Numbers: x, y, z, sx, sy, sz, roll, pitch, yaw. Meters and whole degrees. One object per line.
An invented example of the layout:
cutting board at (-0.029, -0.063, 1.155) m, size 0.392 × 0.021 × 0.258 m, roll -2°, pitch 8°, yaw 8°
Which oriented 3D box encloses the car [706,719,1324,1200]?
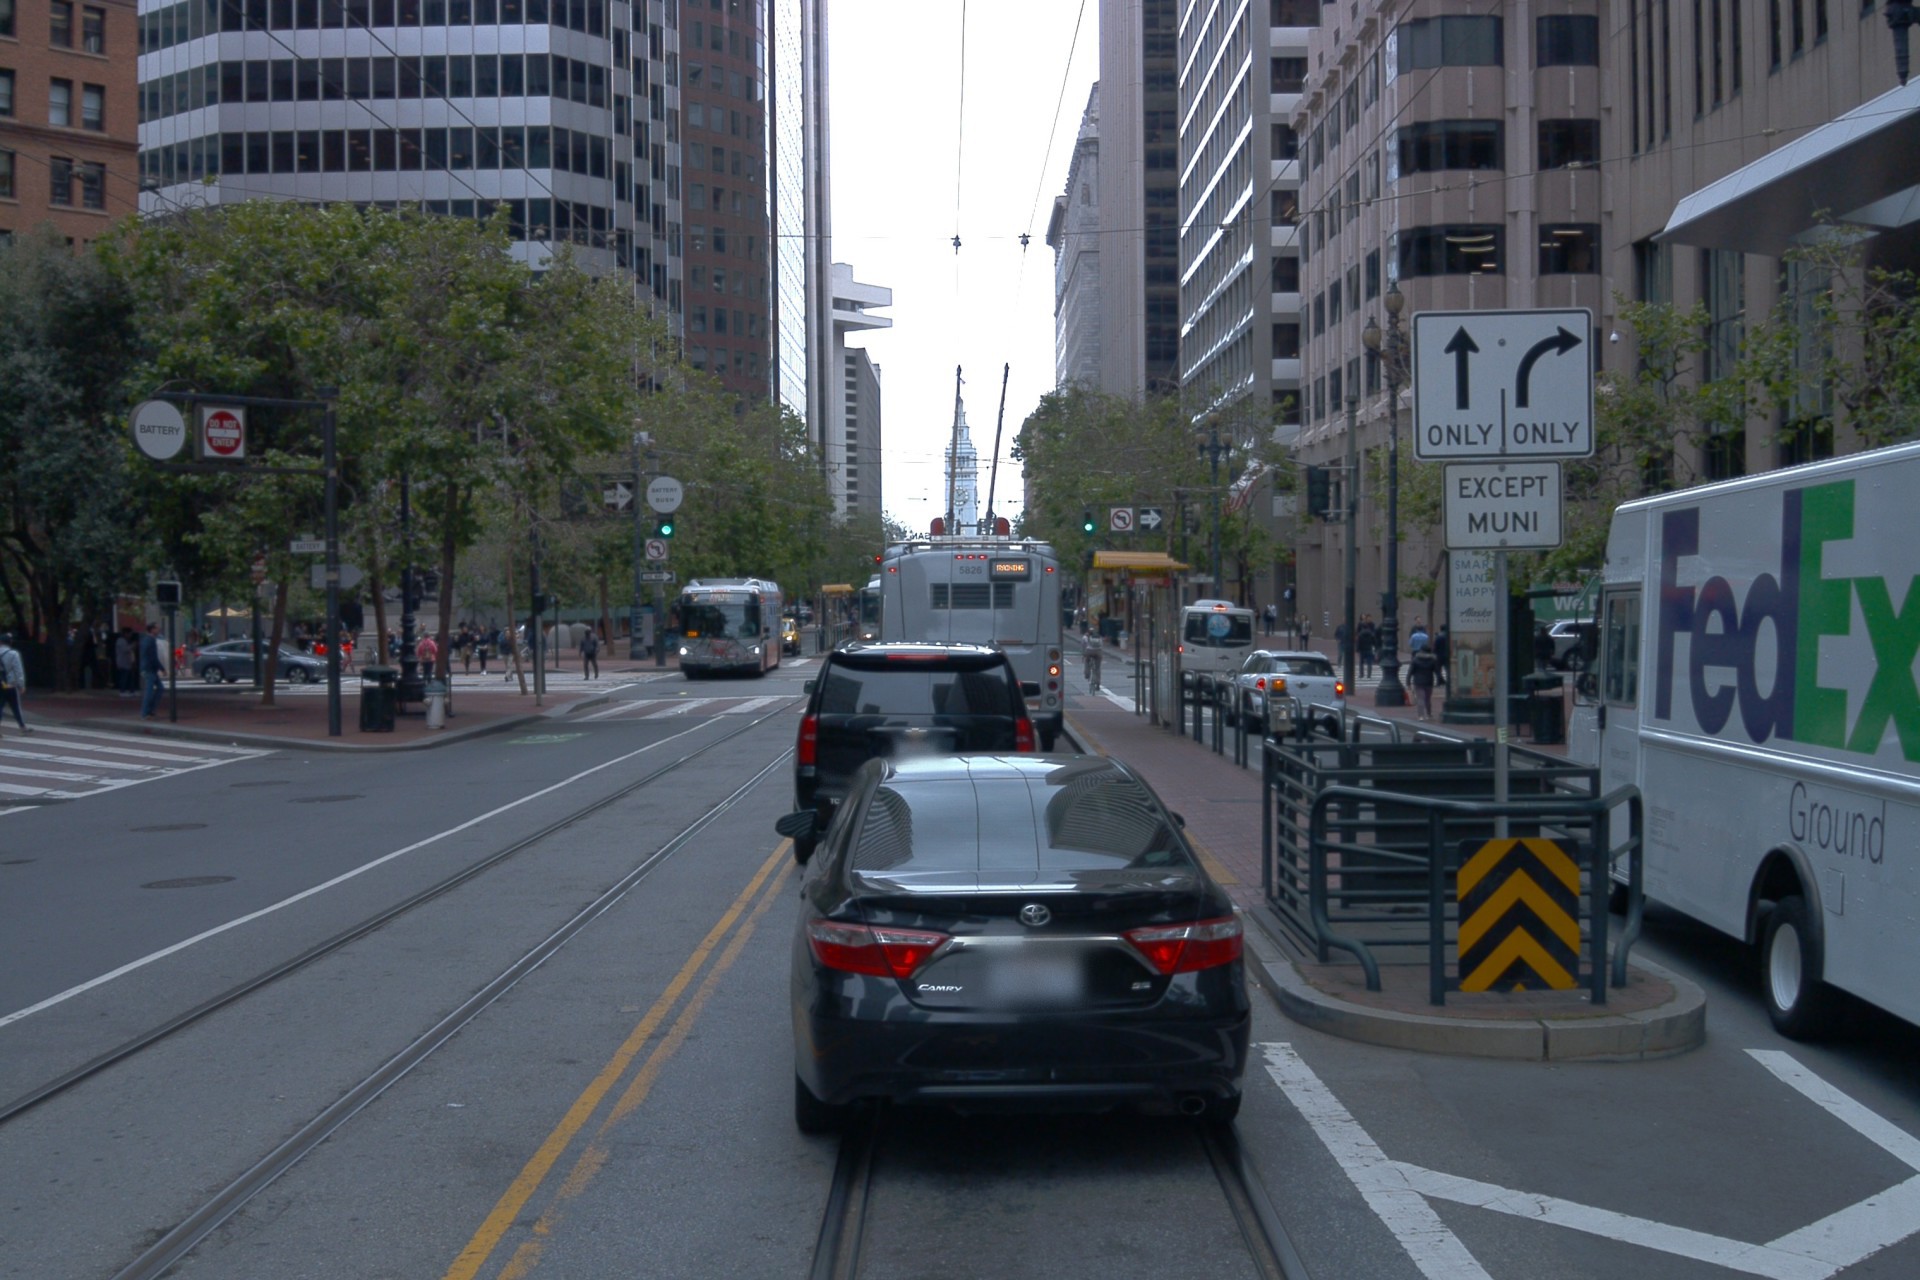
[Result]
car at (0.138, 1.223, 9.690) m, size 2.188 × 1.460 × 4.687 m, roll 0°, pitch 1°, yaw -1°

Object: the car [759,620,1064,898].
car at (-0.353, 0.882, 18.460) m, size 2.308 × 2.100 × 5.442 m, roll 0°, pitch 1°, yaw 0°
